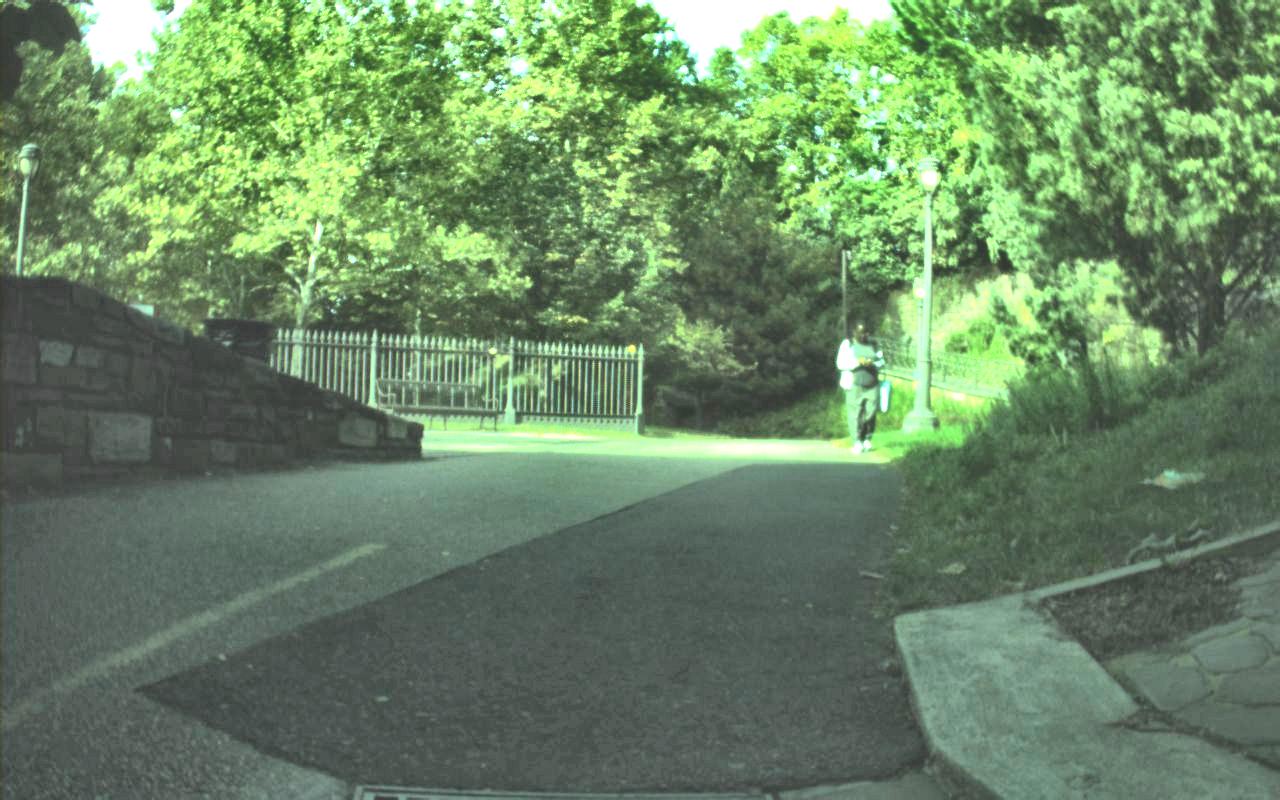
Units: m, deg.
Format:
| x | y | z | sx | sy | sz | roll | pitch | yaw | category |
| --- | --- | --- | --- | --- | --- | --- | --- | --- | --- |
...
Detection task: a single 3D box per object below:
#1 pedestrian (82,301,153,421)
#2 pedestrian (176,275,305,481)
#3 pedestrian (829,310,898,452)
| x | y | z | sx | sy | sz | roll | pitch | yaw | category |
| --- | --- | --- | --- | --- | --- | --- | --- | --- | --- |
| -7.838 | -0.544 | 17.411 | 0.805 | 1.756 | 0.784 | 1 | 0 | 23 | pedestrian |
| -3.296 | -0.169 | 9.863 | 0.880 | 1.606 | 0.828 | 0 | 0 | -36 | pedestrian |
| 2.803 | -0.232 | 15.735 | 0.814 | 1.735 | 0.850 | 0 | 0 | 6 | pedestrian |
